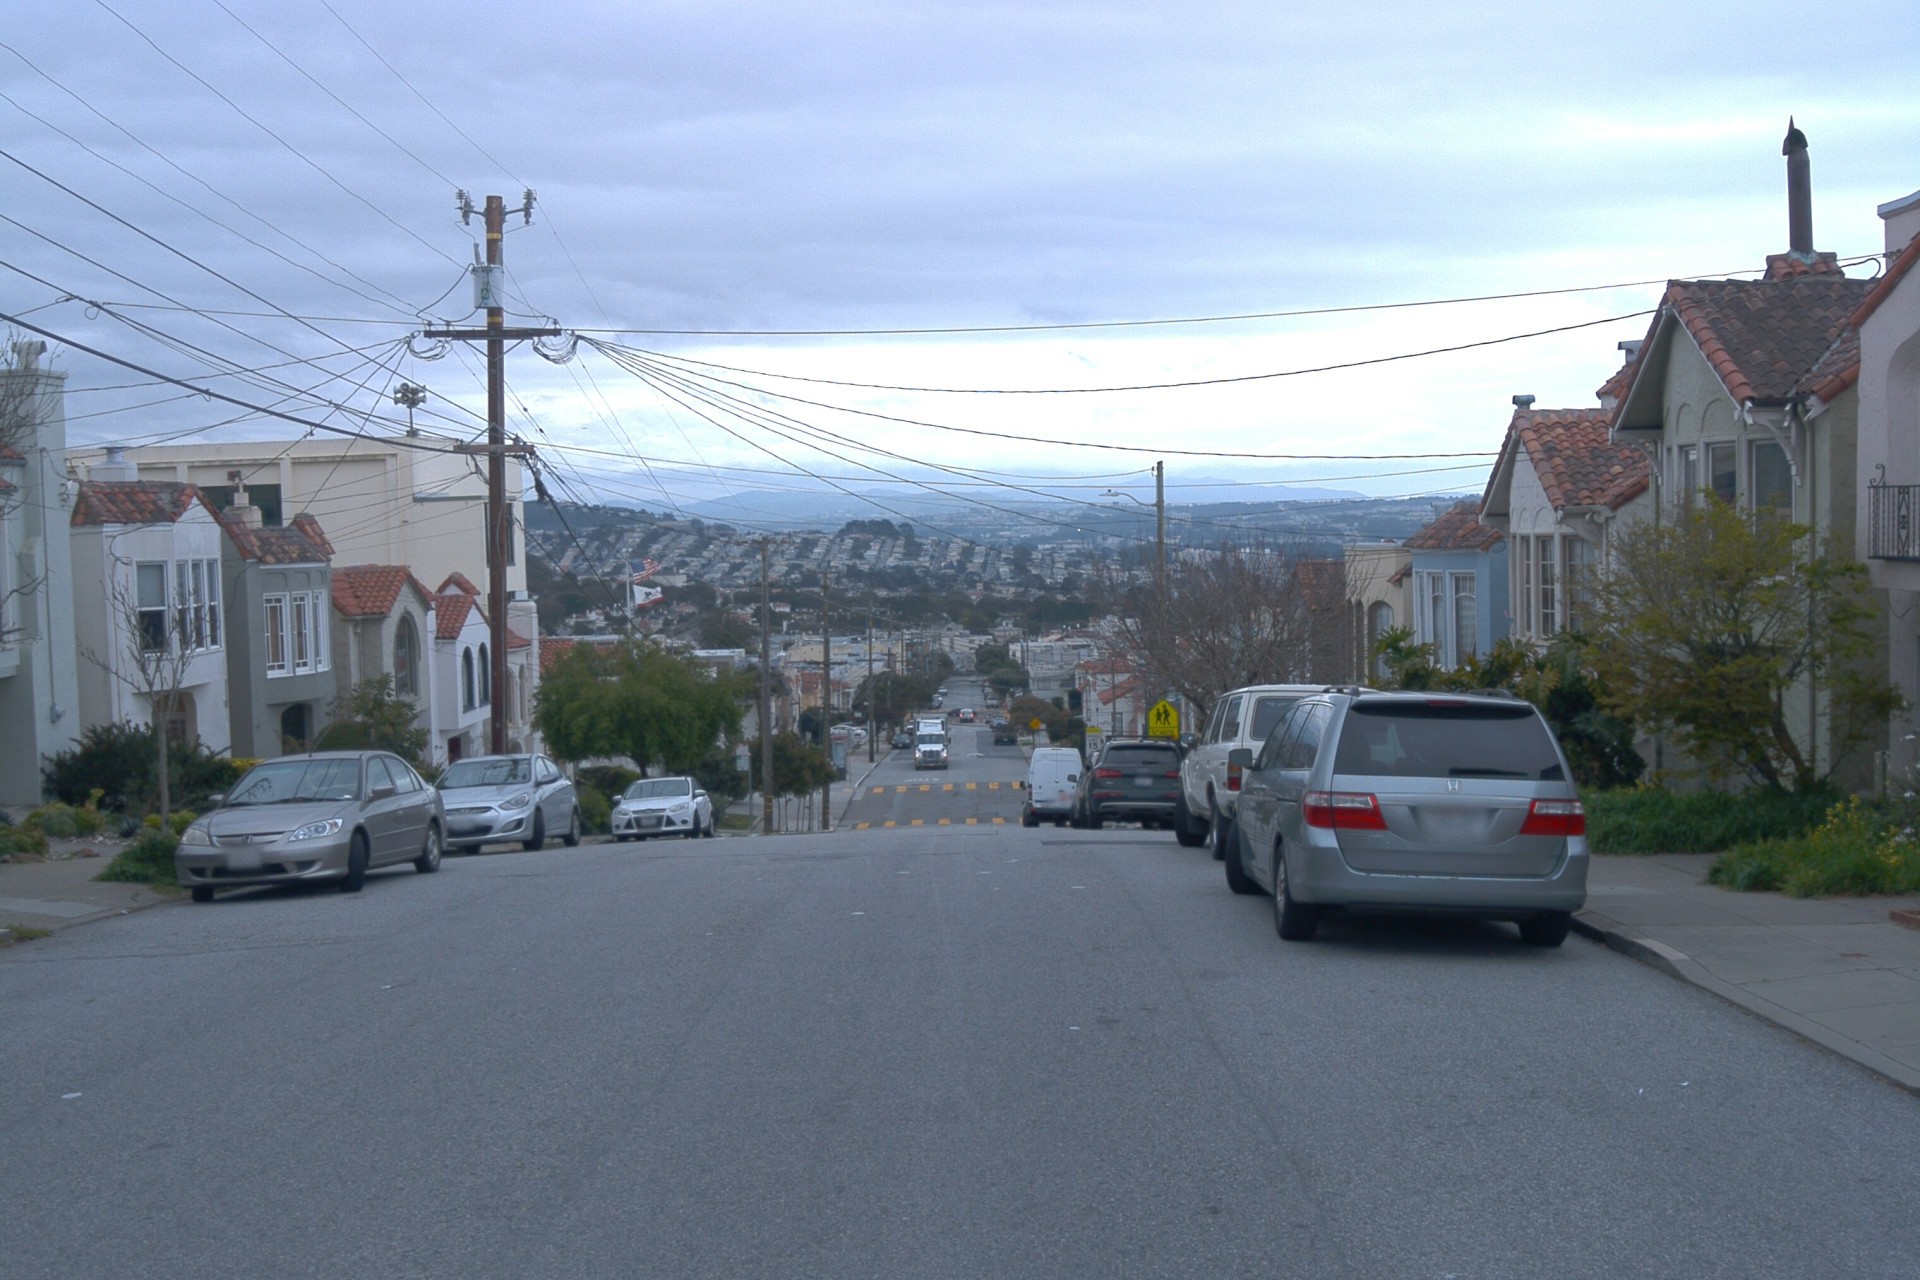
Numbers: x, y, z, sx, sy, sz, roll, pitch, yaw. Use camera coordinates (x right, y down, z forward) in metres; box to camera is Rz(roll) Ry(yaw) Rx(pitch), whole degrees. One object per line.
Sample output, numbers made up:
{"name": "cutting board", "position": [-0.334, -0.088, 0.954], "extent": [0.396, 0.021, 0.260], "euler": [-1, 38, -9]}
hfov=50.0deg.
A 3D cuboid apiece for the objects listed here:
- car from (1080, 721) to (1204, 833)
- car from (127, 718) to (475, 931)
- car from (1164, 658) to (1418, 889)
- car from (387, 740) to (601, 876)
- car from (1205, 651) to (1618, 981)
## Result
{"name": "car", "position": [3.267, 2.452, 37.726], "extent": [2.065, 1.773, 4.004], "euler": [0, 0, 2]}
{"name": "car", "position": [-6.618, 1.787, 21.294], "extent": [2.152, 1.800, 4.566], "euler": [0, 0, 0]}
{"name": "car", "position": [3.403, 1.302, 22.066], "extent": [1.936, 2.170, 4.666], "euler": [0, 0, -1]}
{"name": "car", "position": [-6.653, 2.365, 29.896], "extent": [2.061, 1.630, 4.232], "euler": [0, 0, 1]}
{"name": "car", "position": [3.172, 1.130, 15.663], "extent": [2.082, 2.060, 5.186], "euler": [0, 0, 1]}
